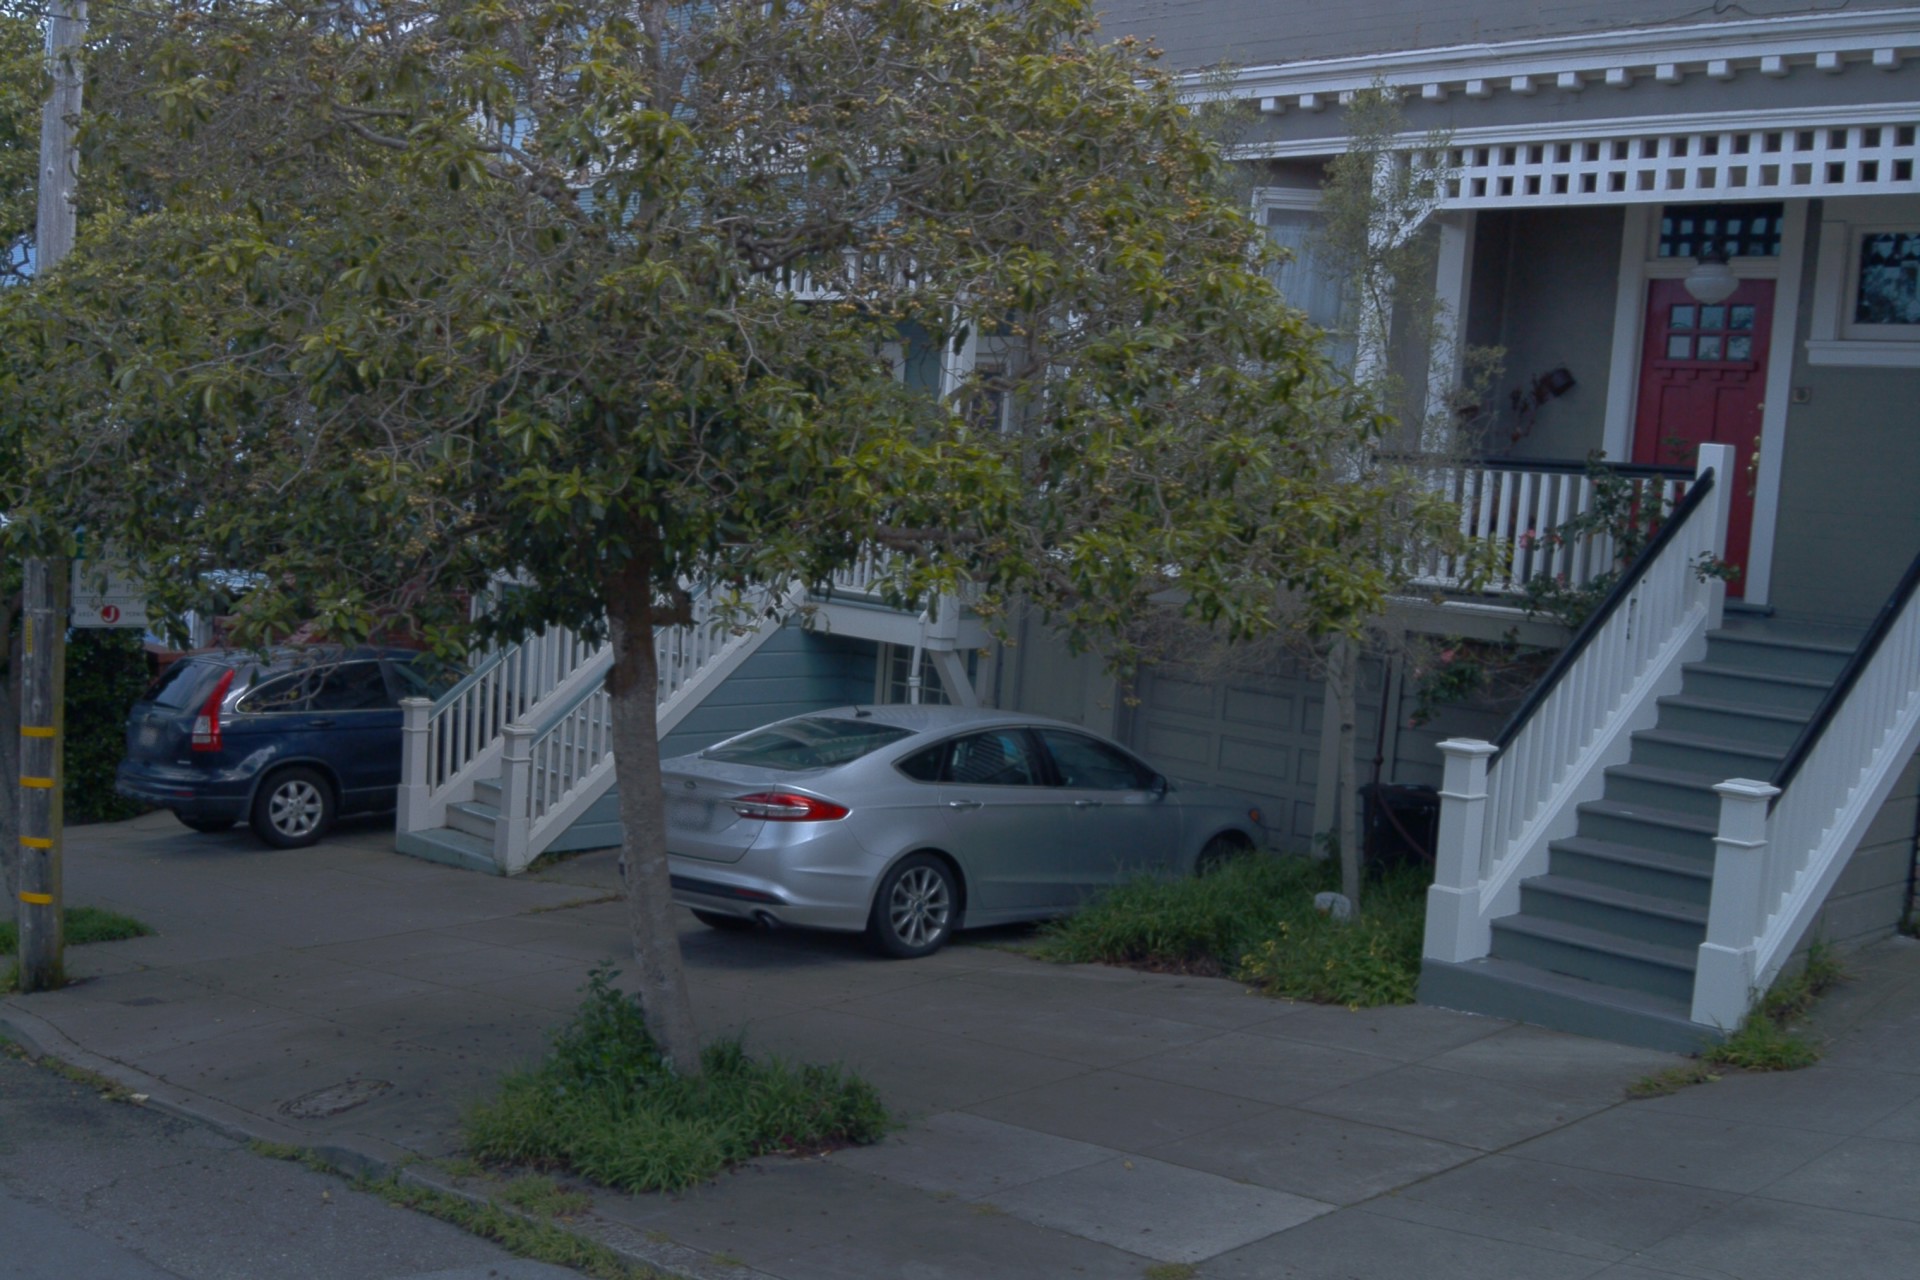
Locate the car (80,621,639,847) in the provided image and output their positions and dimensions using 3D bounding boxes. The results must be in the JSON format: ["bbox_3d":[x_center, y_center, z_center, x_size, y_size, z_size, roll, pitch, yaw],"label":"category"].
[{"bbox_3d":[-5.394,0.759,18.862,4.414,1.820,2.172,0,0,-44],"label":"car"}]

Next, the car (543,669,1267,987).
[{"bbox_3d":[-0.209,1.053,13.524,2.155,1.659,4.520,0,0,44],"label":"car"}]
